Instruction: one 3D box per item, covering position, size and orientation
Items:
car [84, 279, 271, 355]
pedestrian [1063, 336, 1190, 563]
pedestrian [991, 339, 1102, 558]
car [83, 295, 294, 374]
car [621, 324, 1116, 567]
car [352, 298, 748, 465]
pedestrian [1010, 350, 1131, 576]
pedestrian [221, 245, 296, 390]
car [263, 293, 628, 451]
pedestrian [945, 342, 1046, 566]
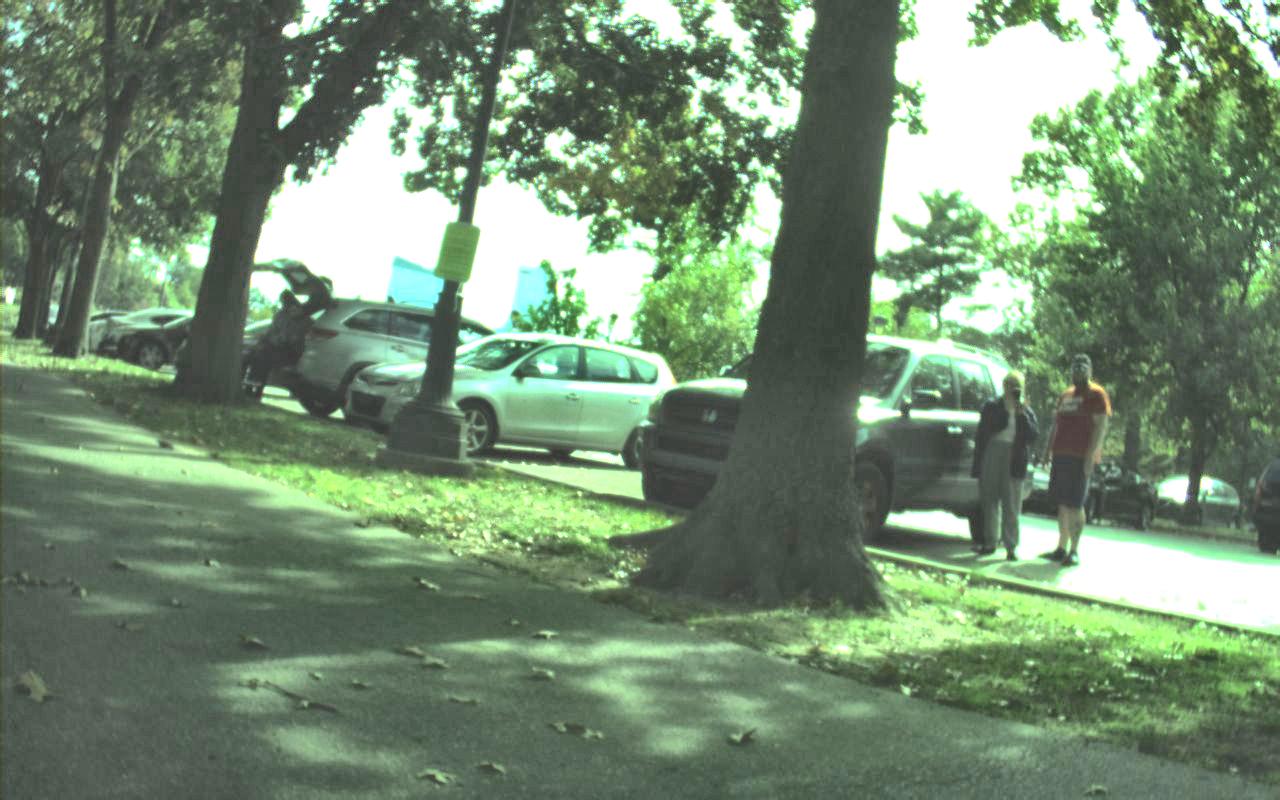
[{"bbox_3d":[-11.259,-1.919,28.810,4.429,1.680,1.953,0,1,-38],"label":"car"},{"bbox_3d":[4.164,0.415,10.174,0.783,1.851,0.769,0,0,-23],"label":"pedestrian"},{"bbox_3d":[3.405,0.391,10.115,0.788,1.751,0.799,1,0,29],"label":"pedestrian"},{"bbox_3d":[-9.882,-1.342,25.955,4.475,1.615,1.969,0,1,-37],"label":"car"},{"bbox_3d":[2.193,0.267,10.672,4.491,1.643,1.969,-1,1,-41],"label":"car"},{"bbox_3d":[-1.003,-0.229,15.111,4.501,1.718,1.945,-1,1,-40],"label":"car"},{"bbox_3d":[3.717,0.526,10.385,0.759,1.869,0.766,0,0,-42],"label":"pedestrian"},{"bbox_3d":[-5.108,-1.067,16.192,0.967,1.880,0.892,0,0,-20],"label":"pedestrian"},{"bbox_3d":[-2.700,-0.379,17.346,4.720,1.948,2.047,0,1,-34],"label":"car"},{"bbox_3d":[2.957,0.445,10.255,0.771,1.815,0.758,0,0,12],"label":"pedestrian"}]
